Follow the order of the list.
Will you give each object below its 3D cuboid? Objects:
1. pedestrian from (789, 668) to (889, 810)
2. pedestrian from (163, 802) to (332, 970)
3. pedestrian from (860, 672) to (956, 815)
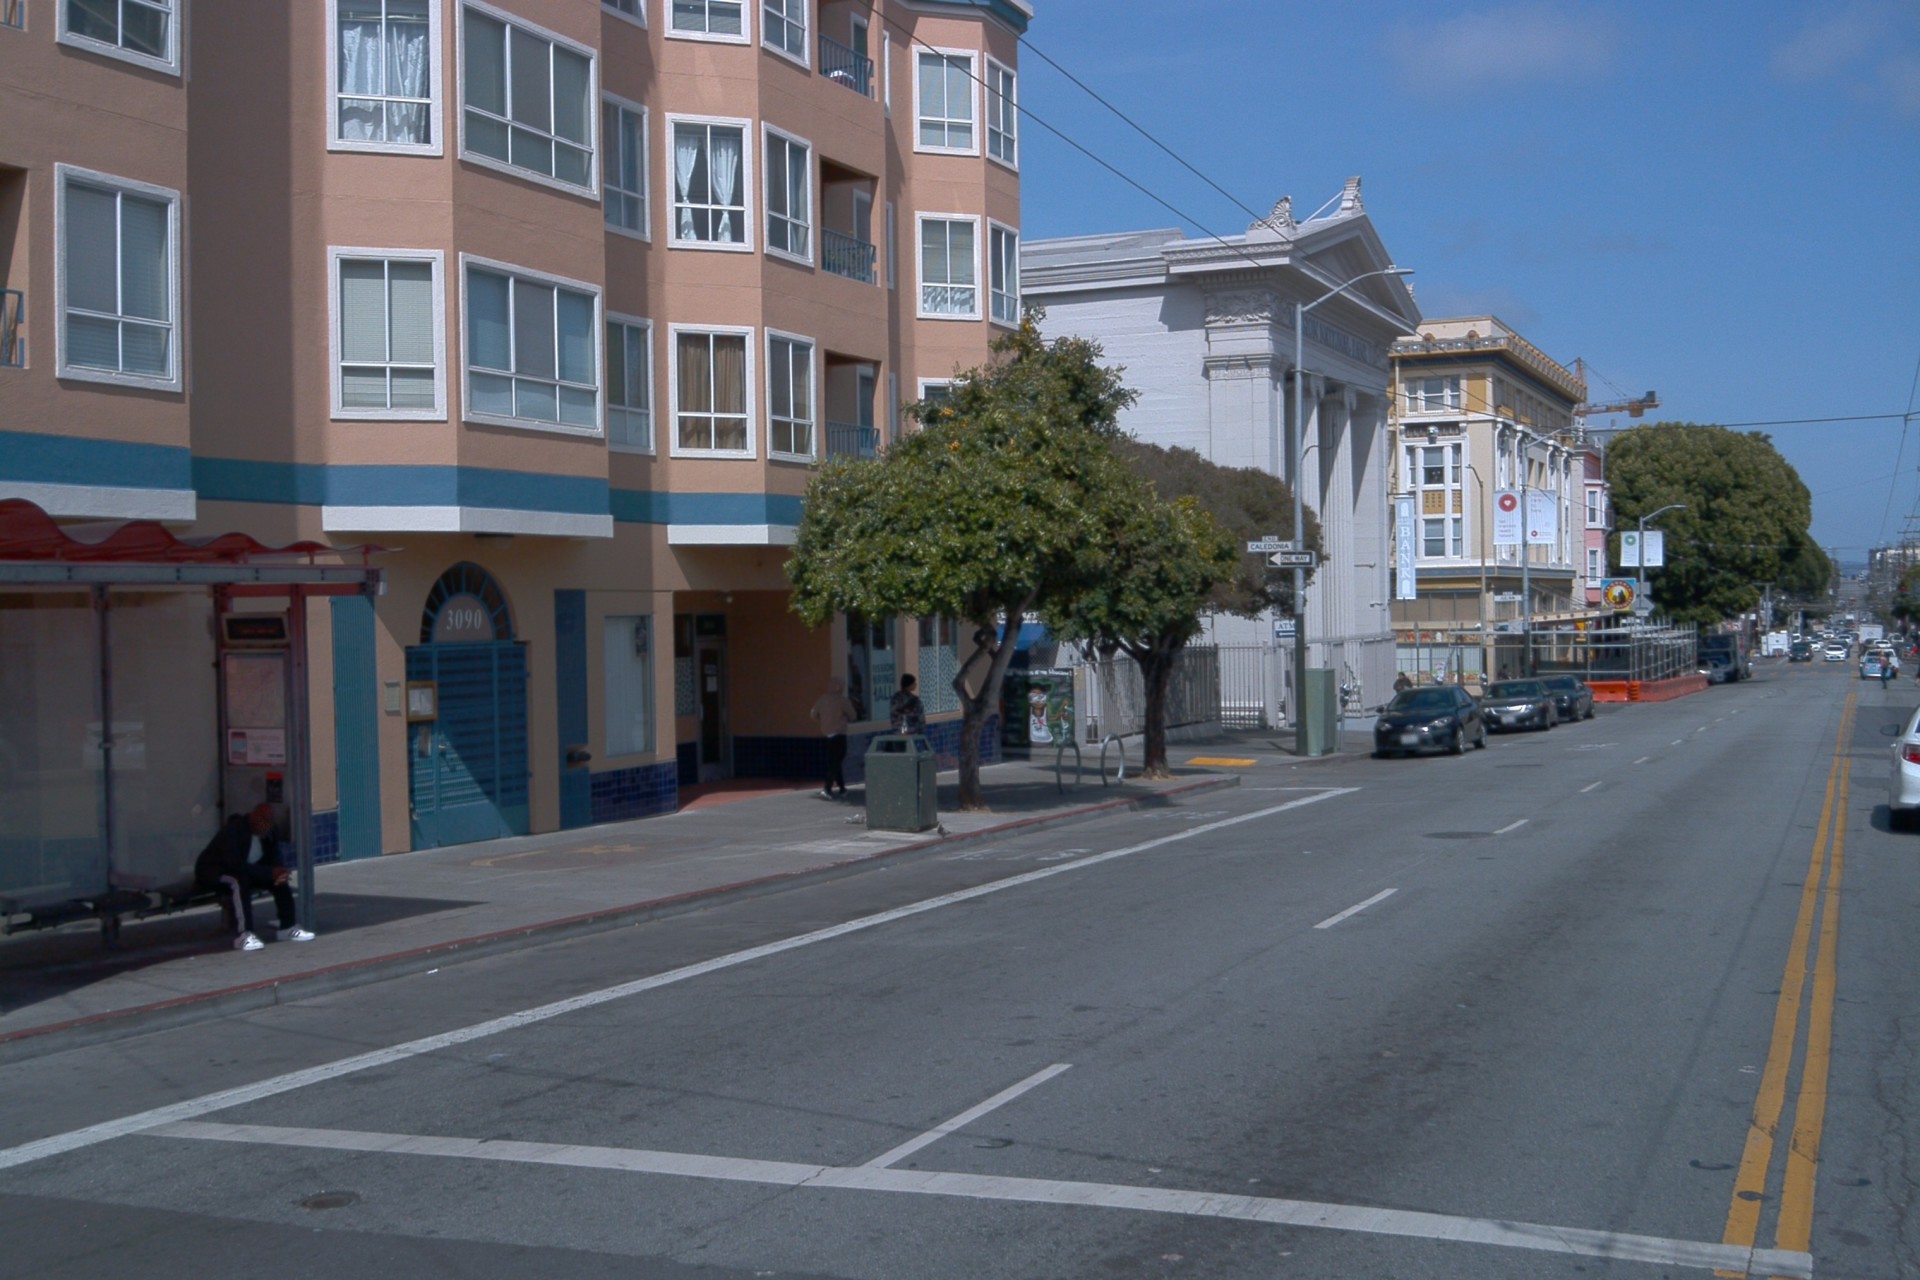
[{"bbox_3d":[-1.658,1.338,28.399,0.960,1.870,1.103,0,1,24],"label":"pedestrian"},{"bbox_3d":[-5.246,1.793,15.227,0.826,1.100,0.831,0,1,22],"label":"pedestrian"},{"bbox_3d":[-0.696,1.378,27.909,0.923,1.850,1.064,0,1,25],"label":"pedestrian"}]
